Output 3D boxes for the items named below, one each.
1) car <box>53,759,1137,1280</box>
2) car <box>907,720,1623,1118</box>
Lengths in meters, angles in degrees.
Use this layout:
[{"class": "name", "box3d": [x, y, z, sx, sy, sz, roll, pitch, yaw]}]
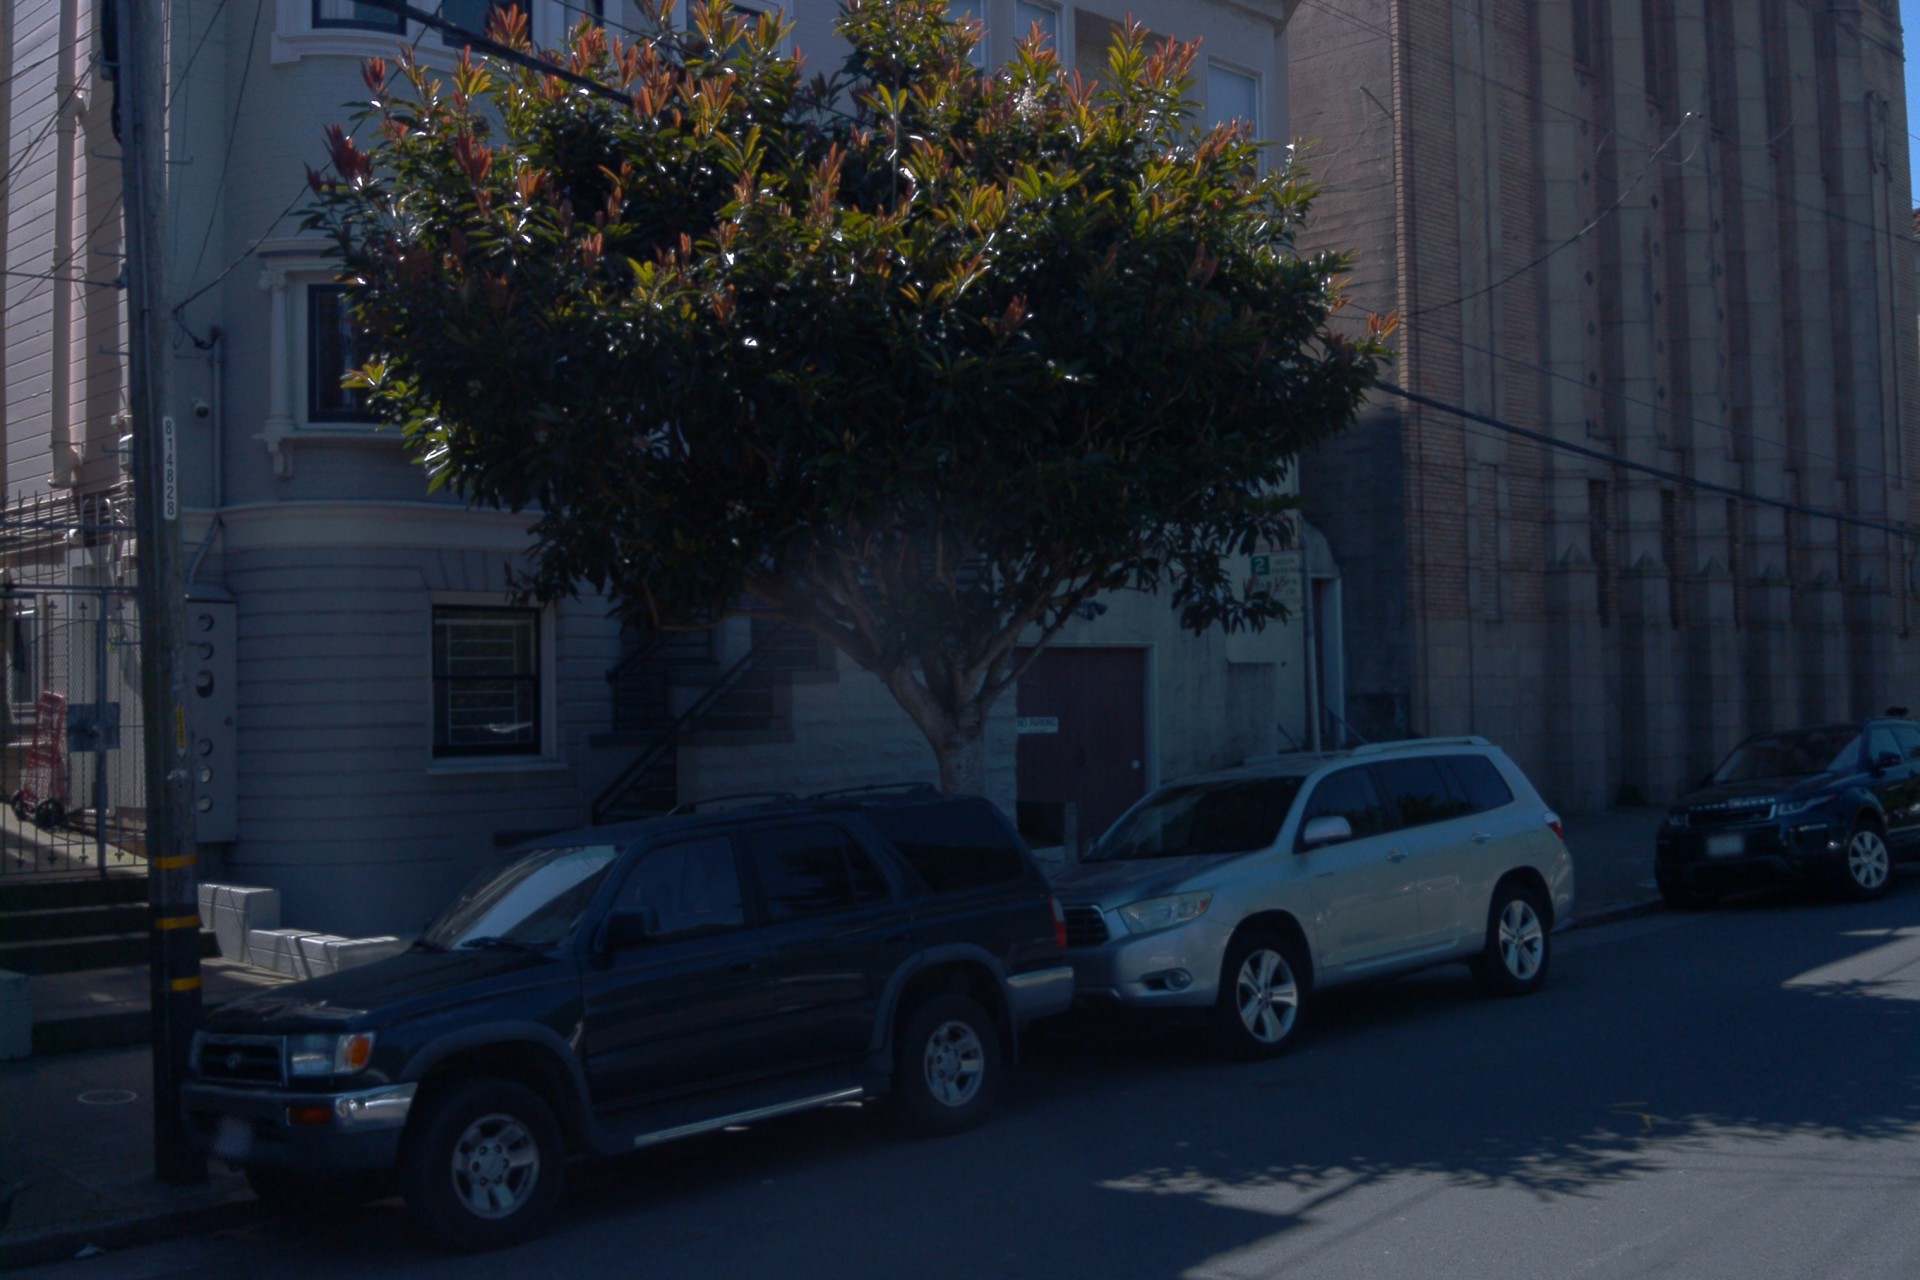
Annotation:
[{"class": "car", "box3d": [-1.504, 1.631, 9.822, 4.770, 1.780, 2.007, -1, 1, -43]}, {"class": "car", "box3d": [2.131, 1.569, 13.266, 4.842, 1.840, 2.025, -1, 1, -44]}]
